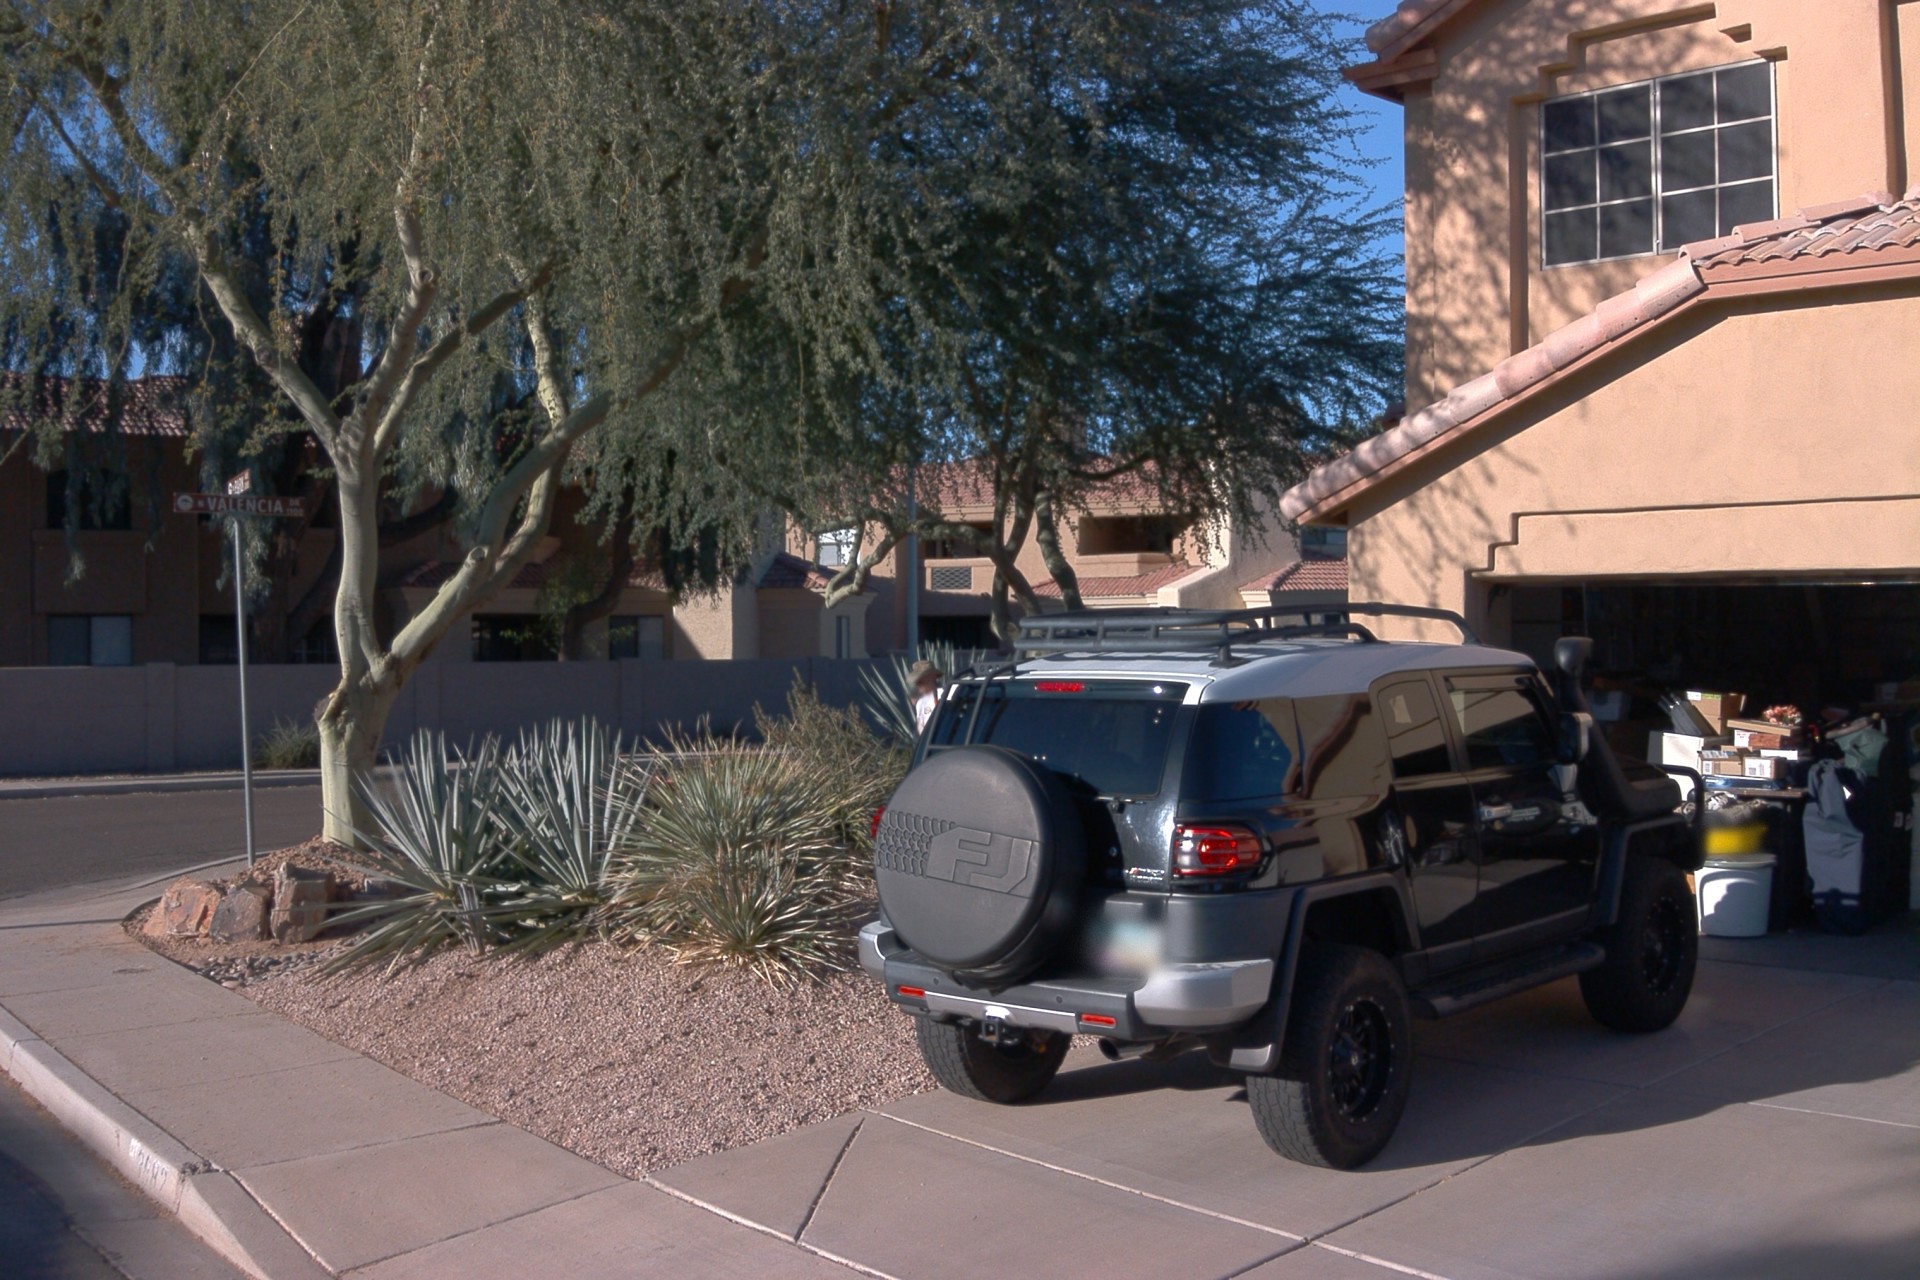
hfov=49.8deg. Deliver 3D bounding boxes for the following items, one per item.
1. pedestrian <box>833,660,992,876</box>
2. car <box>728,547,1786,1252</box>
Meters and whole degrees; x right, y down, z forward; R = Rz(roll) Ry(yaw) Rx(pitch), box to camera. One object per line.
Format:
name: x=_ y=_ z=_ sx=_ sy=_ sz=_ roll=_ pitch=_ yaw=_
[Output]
pedestrian: x=-0.396 y=1.044 z=17.357 sx=1.018 sy=1.730 sz=0.845 roll=1 pitch=-1 yaw=34
car: x=1.580 y=0.861 z=9.068 sx=2.028 sy=2.240 sz=4.978 roll=0 pitch=-1 yaw=44
